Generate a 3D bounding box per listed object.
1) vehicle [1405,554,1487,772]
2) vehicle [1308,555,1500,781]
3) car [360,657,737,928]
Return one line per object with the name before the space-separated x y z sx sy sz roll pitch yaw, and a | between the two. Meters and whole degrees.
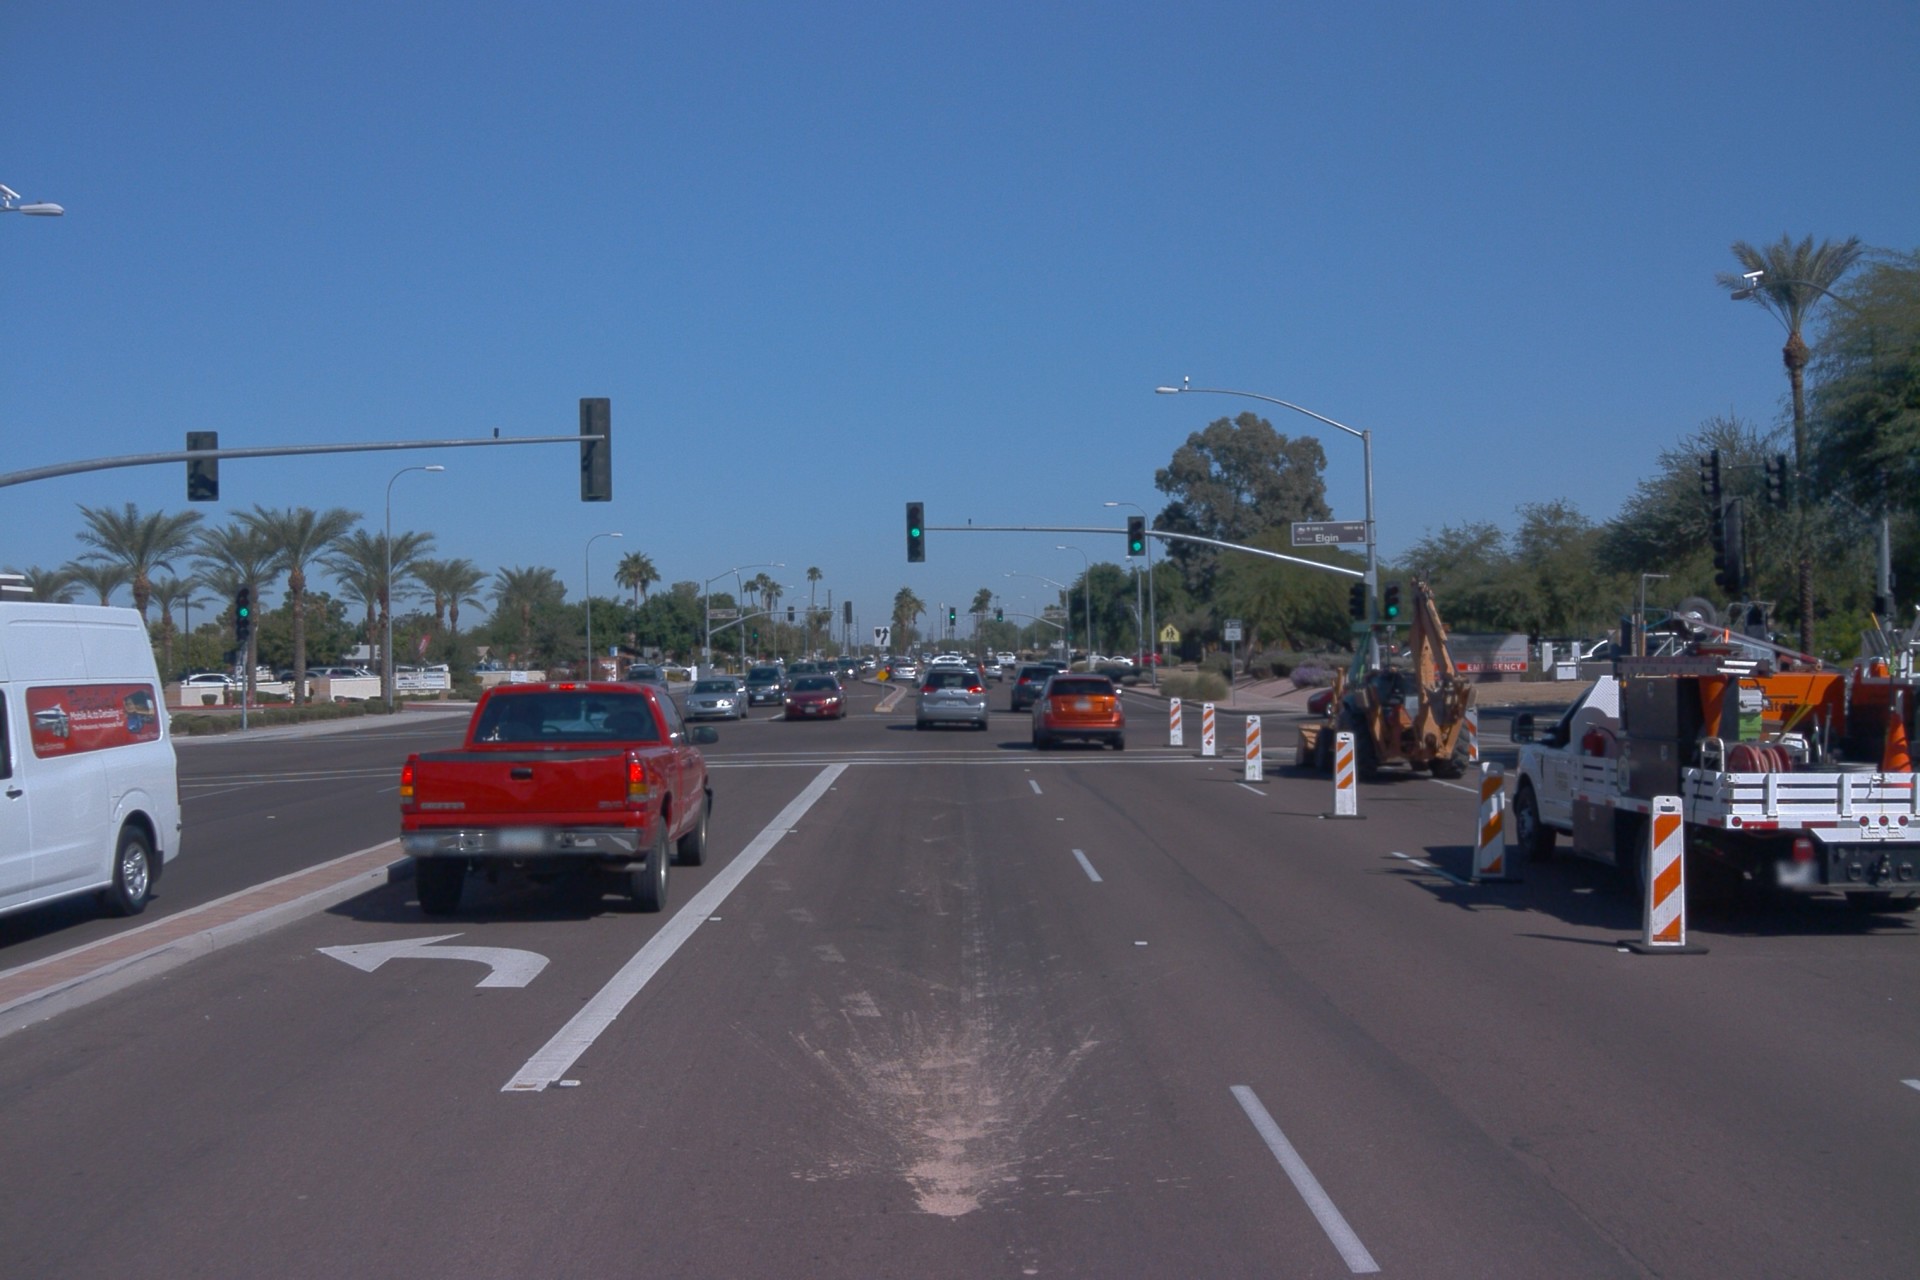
vehicle | 7.776 0.364 33.216 0.644 3.370 2.251 0 0 -4
vehicle | 7.602 0.463 35.854 2.346 3.680 3.990 0 0 -2
car | -3.425 1.180 18.558 2.340 2.010 5.847 0 0 -1
